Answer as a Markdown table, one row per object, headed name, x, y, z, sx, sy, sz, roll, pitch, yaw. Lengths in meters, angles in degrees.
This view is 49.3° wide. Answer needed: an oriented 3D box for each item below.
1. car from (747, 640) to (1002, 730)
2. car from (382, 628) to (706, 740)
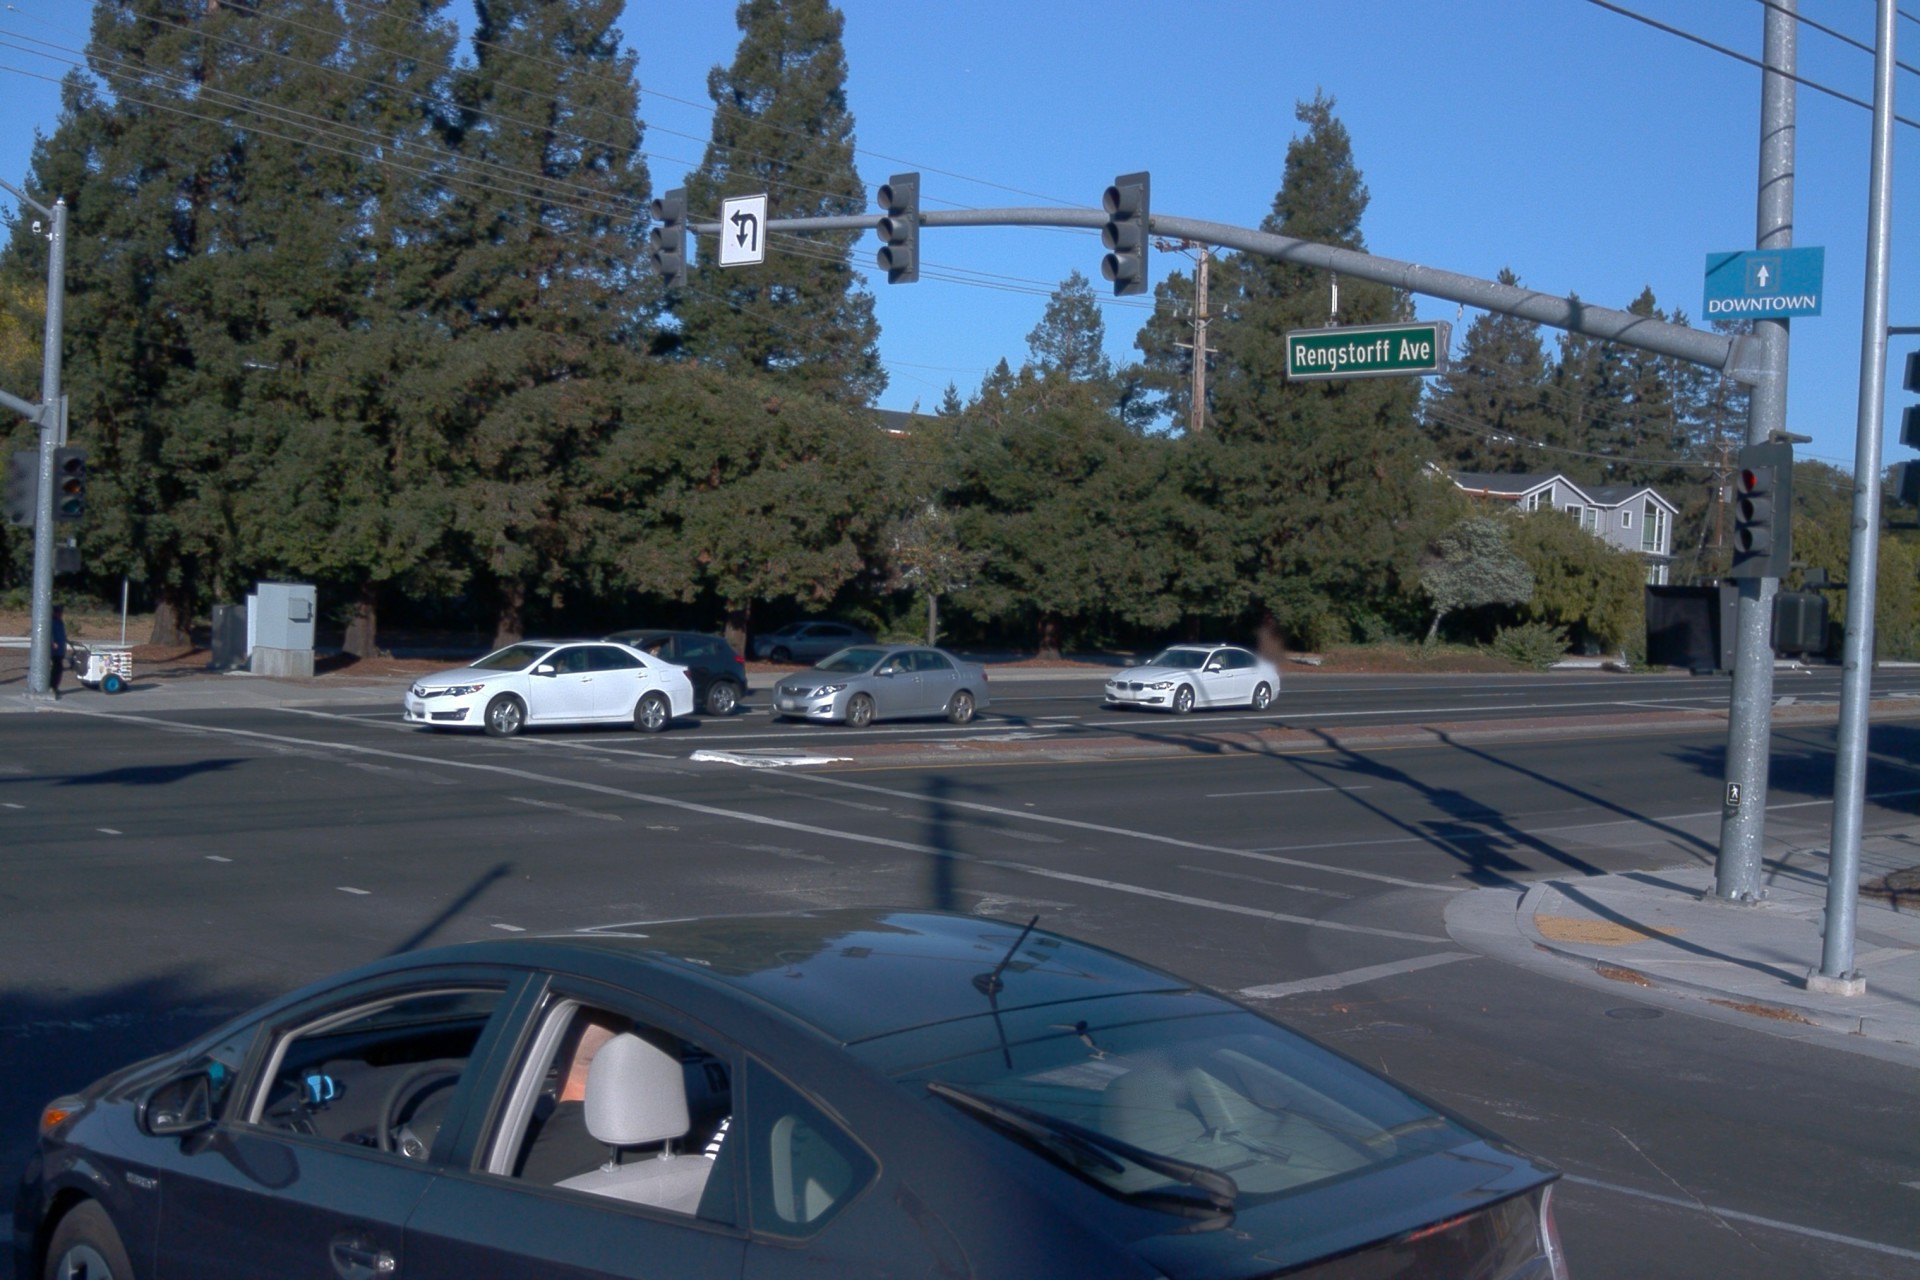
| name | x | y | z | sx | sy | sz | roll | pitch | yaw |
| --- | --- | --- | --- | --- | --- | --- | --- | --- | --- |
| car | -1.501 | 0.807 | 38.032 | 1.964 | 1.530 | 4.507 | 0 | -1 | 44 |
| car | -6.517 | 0.691 | 33.162 | 4.729 | 1.660 | 1.941 | 2 | -1 | -45 |
